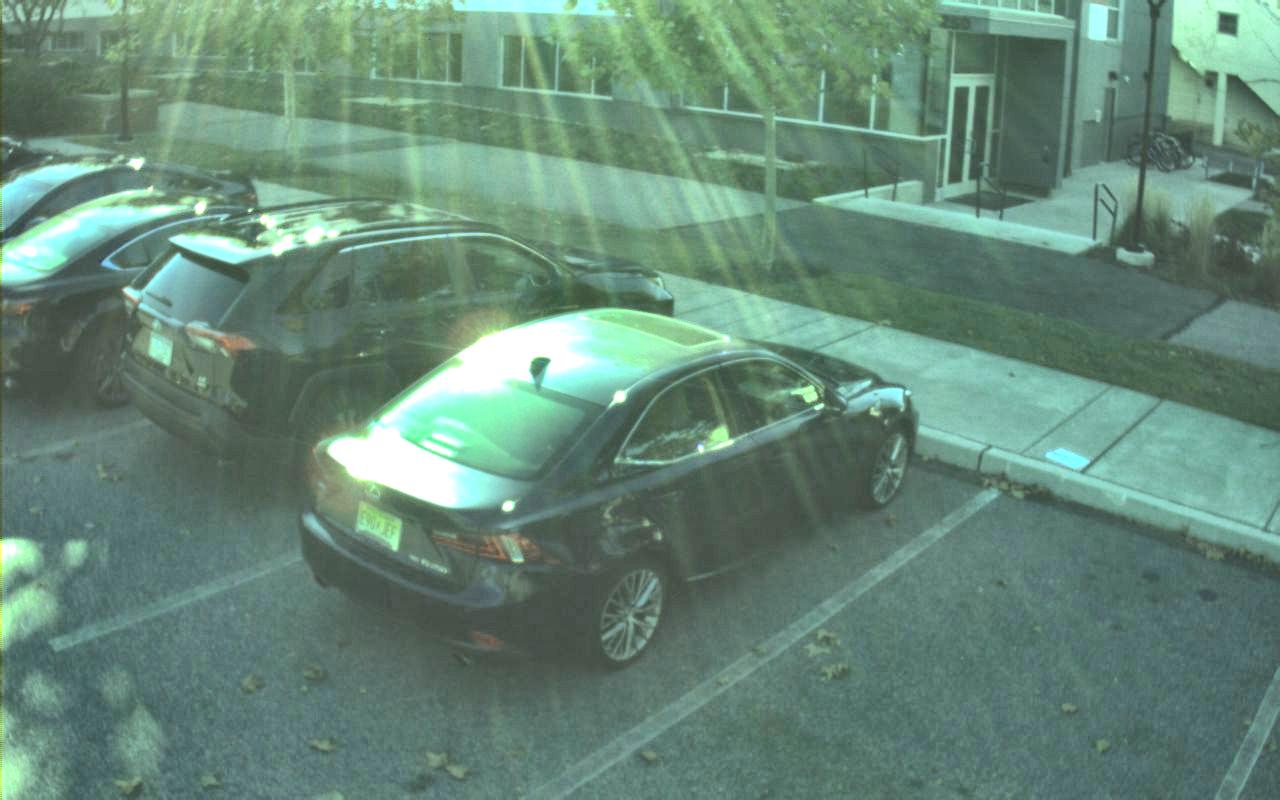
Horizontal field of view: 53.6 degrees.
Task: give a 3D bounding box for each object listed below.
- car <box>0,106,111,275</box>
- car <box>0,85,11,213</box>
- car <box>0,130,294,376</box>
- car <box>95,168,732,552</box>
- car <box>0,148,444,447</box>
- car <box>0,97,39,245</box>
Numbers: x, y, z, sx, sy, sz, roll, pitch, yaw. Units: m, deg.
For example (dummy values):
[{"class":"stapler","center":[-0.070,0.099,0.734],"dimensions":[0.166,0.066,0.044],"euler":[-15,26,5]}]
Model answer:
[{"class":"car","center":[-9.706,-2.965,15.081],"dimensions":[1.933,1.566,4.511],"euler":[12,21,38]},{"class":"car","center":[-13.464,-4.422,18.555],"dimensions":[1.930,1.597,4.425],"euler":[12,21,38]},{"class":"car","center":[-5.912,-1.648,11.650],"dimensions":[1.981,1.600,4.592],"euler":[12,21,38]},{"class":"car","center":[-1.495,-0.578,9.114],"dimensions":[1.952,1.640,4.547],"euler":[13,22,40]},{"class":"car","center":[-3.953,-1.095,10.297],"dimensions":[1.947,1.584,4.496],"euler":[11,20,35]},{"class":"car","center":[-11.766,-3.587,16.516],"dimensions":[1.949,1.572,4.521],"euler":[13,22,40]}]
